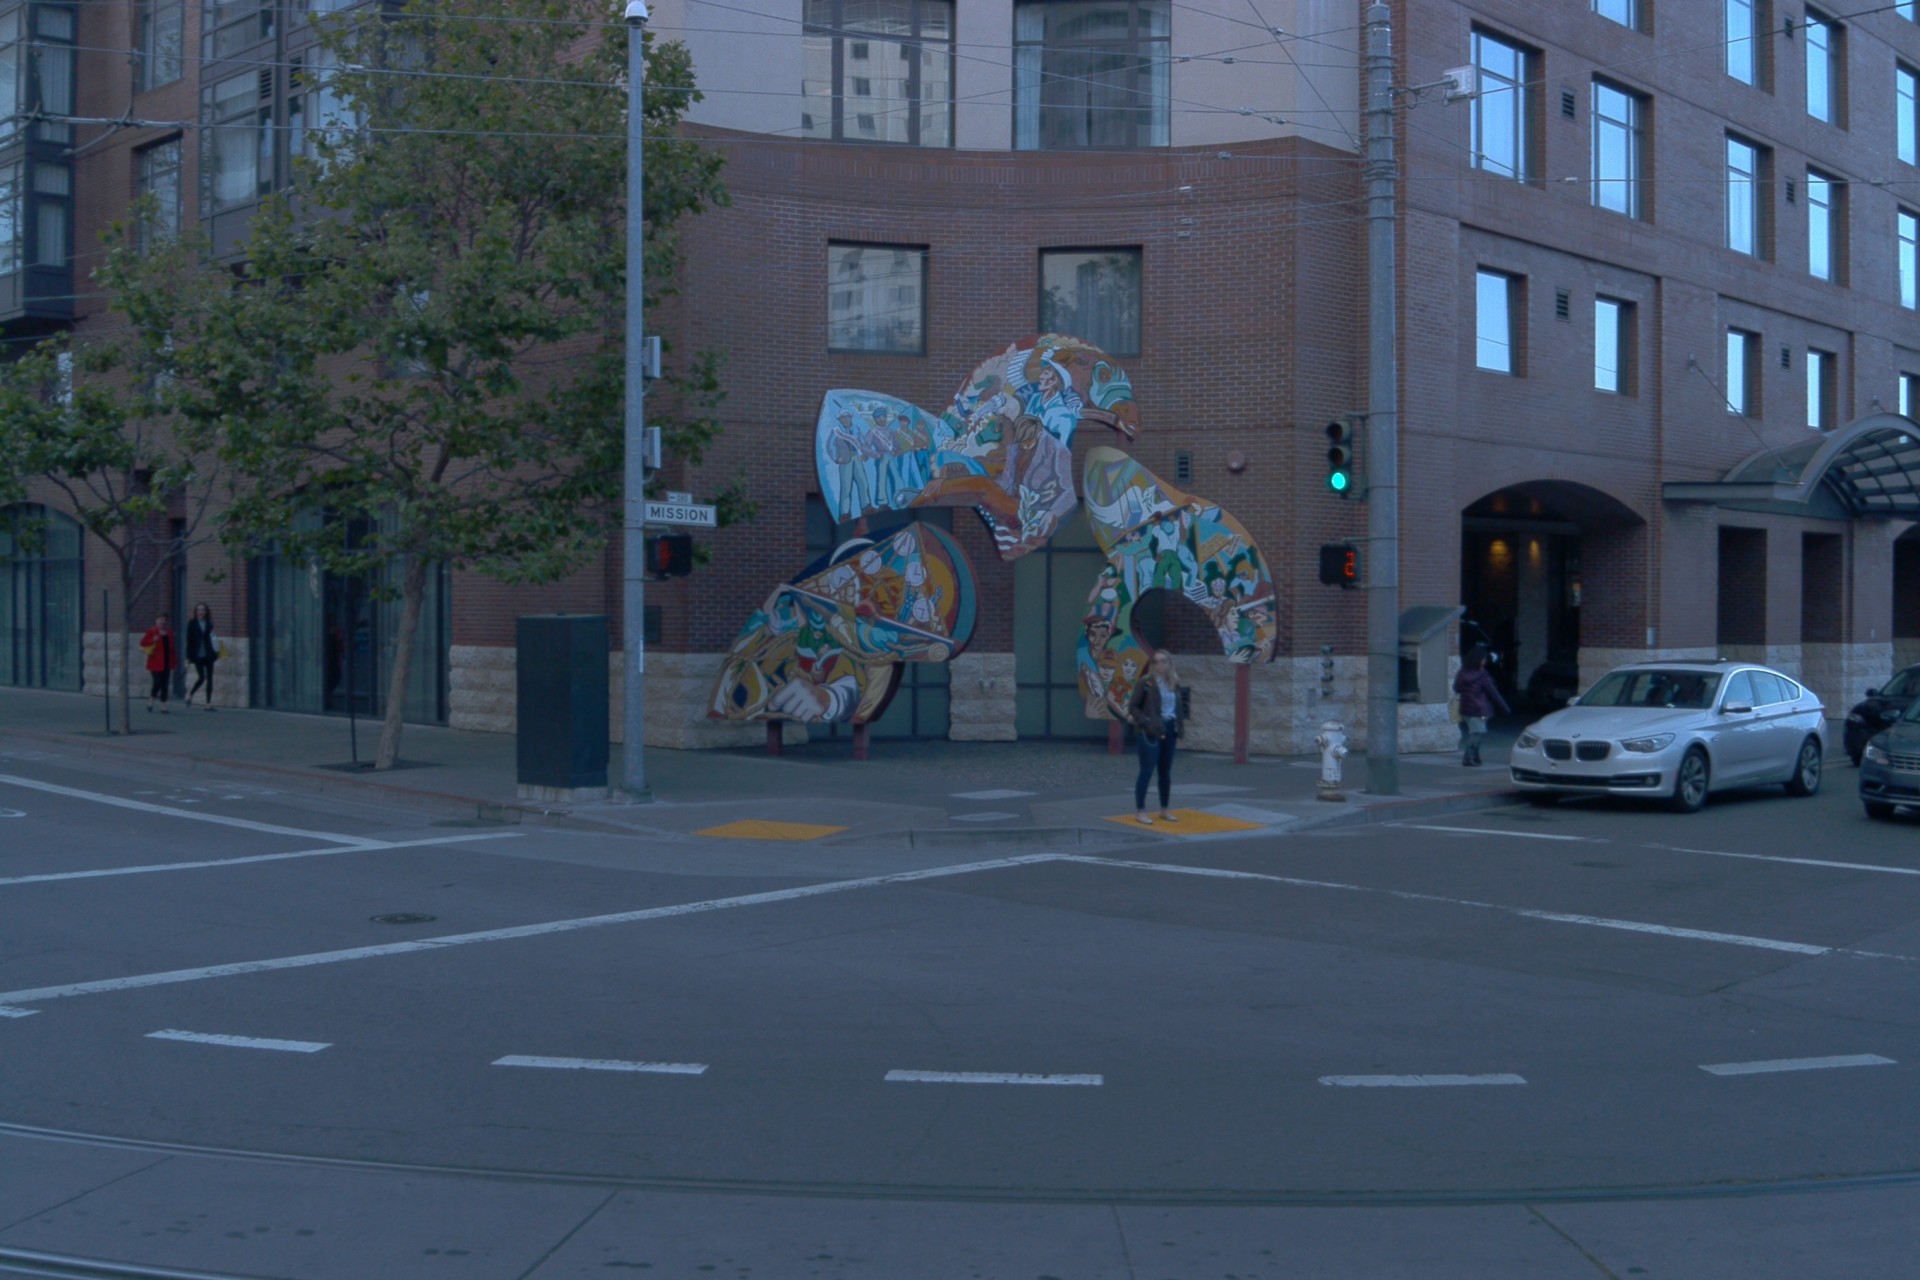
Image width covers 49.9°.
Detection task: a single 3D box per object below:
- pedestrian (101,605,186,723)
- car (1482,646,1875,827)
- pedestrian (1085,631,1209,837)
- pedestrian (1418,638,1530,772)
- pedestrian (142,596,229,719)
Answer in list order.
[{"bbox_3d":[-12.668,0.357,32.027,1.040,1.800,0.821,1,1,41],"label":"pedestrian"},{"bbox_3d":[8.040,0.956,22.799,2.152,1.680,5.054,1,1,44],"label":"car"},{"bbox_3d":[1.734,0.837,19.059,0.904,1.837,0.854,0,1,25],"label":"pedestrian"},{"bbox_3d":[6.292,0.772,25.270,0.934,1.584,0.956,-1,1,-35],"label":"pedestrian"},{"bbox_3d":[-12.265,0.261,32.668,0.996,1.900,0.942,1,1,44],"label":"pedestrian"}]
